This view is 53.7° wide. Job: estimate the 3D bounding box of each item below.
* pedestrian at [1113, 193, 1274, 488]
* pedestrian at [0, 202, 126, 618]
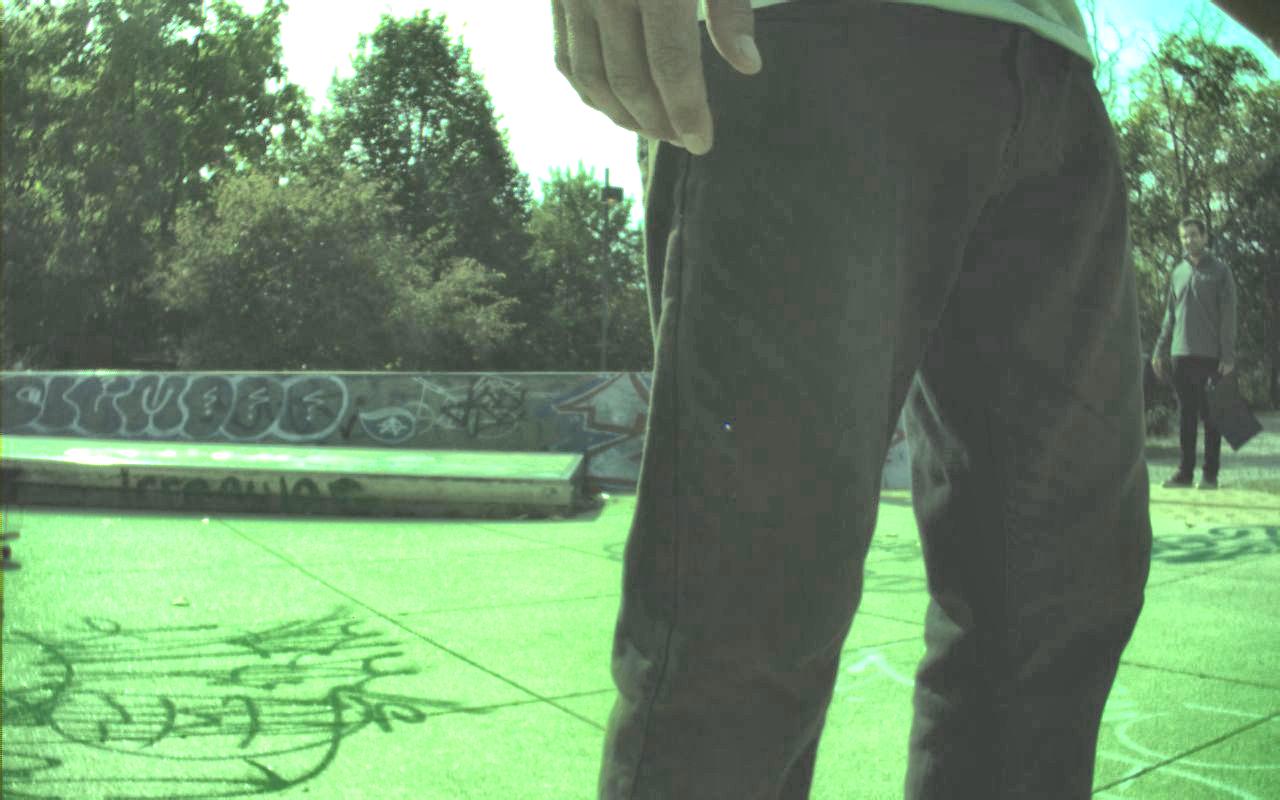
[{"bbox_3d":[3.550,-0.353,7.393,0.813,1.764,0.820,0,0,-36],"label":"pedestrian"},{"bbox_3d":[-2.789,0.046,4.905,0.835,1.662,0.931,0,0,-5],"label":"pedestrian"}]
